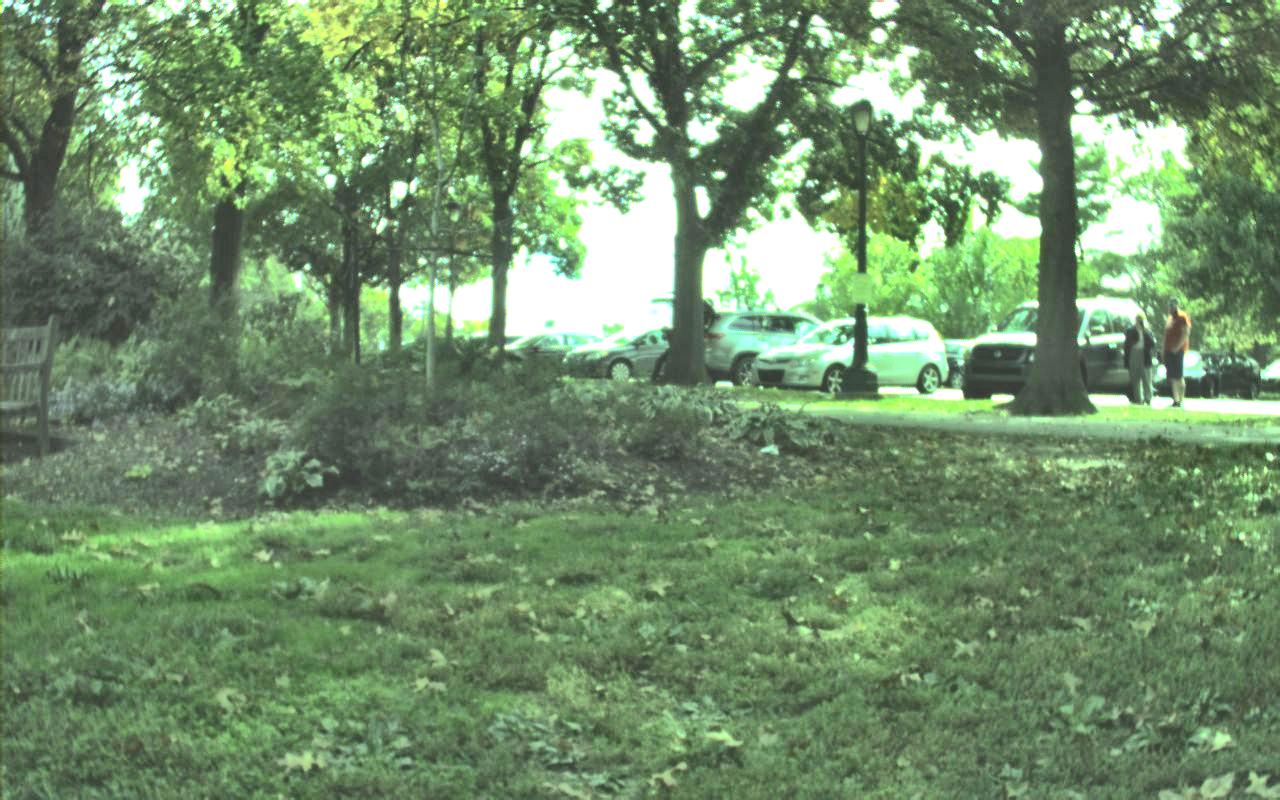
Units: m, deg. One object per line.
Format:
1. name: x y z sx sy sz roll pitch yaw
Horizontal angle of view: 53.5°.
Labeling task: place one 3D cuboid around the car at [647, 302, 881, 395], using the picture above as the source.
1. car: 2.664 -1.042 26.752 4.622 1.820 2.015 0 1 -27

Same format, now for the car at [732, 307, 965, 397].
1. car: 4.147 -0.884 24.450 4.548 1.584 1.936 0 1 -35

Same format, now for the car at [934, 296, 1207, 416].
1. car: 7.051 -0.652 19.454 4.583 1.712 2.027 0 1 -27

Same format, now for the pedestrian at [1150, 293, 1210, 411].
1. pedestrian: 8.772 -0.733 19.066 0.759 1.869 0.766 0 0 -34

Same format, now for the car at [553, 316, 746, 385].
1. car: 0.257 -1.181 31.310 4.415 1.605 1.948 0 1 -32

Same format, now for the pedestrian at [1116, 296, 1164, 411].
1. pedestrian: 7.999 -0.709 19.031 0.771 1.815 0.759 1 0 19
